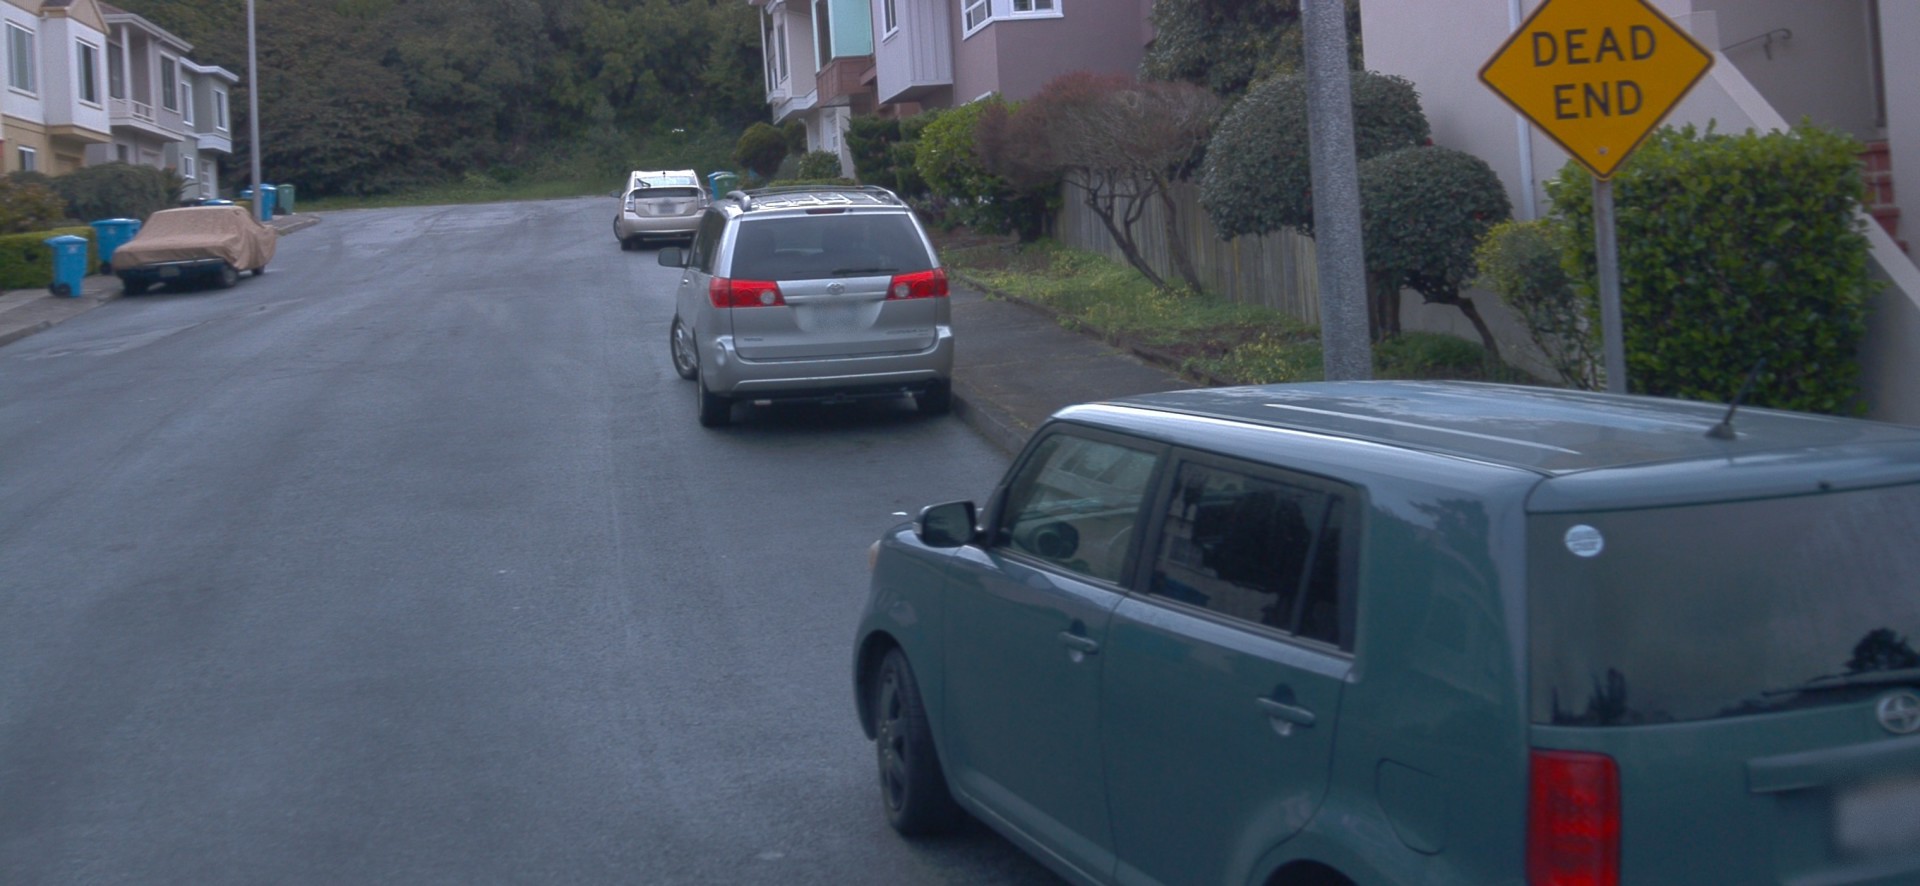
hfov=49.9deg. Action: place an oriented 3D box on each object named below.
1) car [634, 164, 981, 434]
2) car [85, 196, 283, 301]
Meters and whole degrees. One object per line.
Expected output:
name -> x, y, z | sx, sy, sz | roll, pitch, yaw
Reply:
car -> -1.486, -1.344, 17.652 | 2.407, 1.951, 4.953 | -1, 6, -11
car -> -13.489, -3.453, 36.252 | 2.186, 1.689, 5.077 | -1, 6, -8
